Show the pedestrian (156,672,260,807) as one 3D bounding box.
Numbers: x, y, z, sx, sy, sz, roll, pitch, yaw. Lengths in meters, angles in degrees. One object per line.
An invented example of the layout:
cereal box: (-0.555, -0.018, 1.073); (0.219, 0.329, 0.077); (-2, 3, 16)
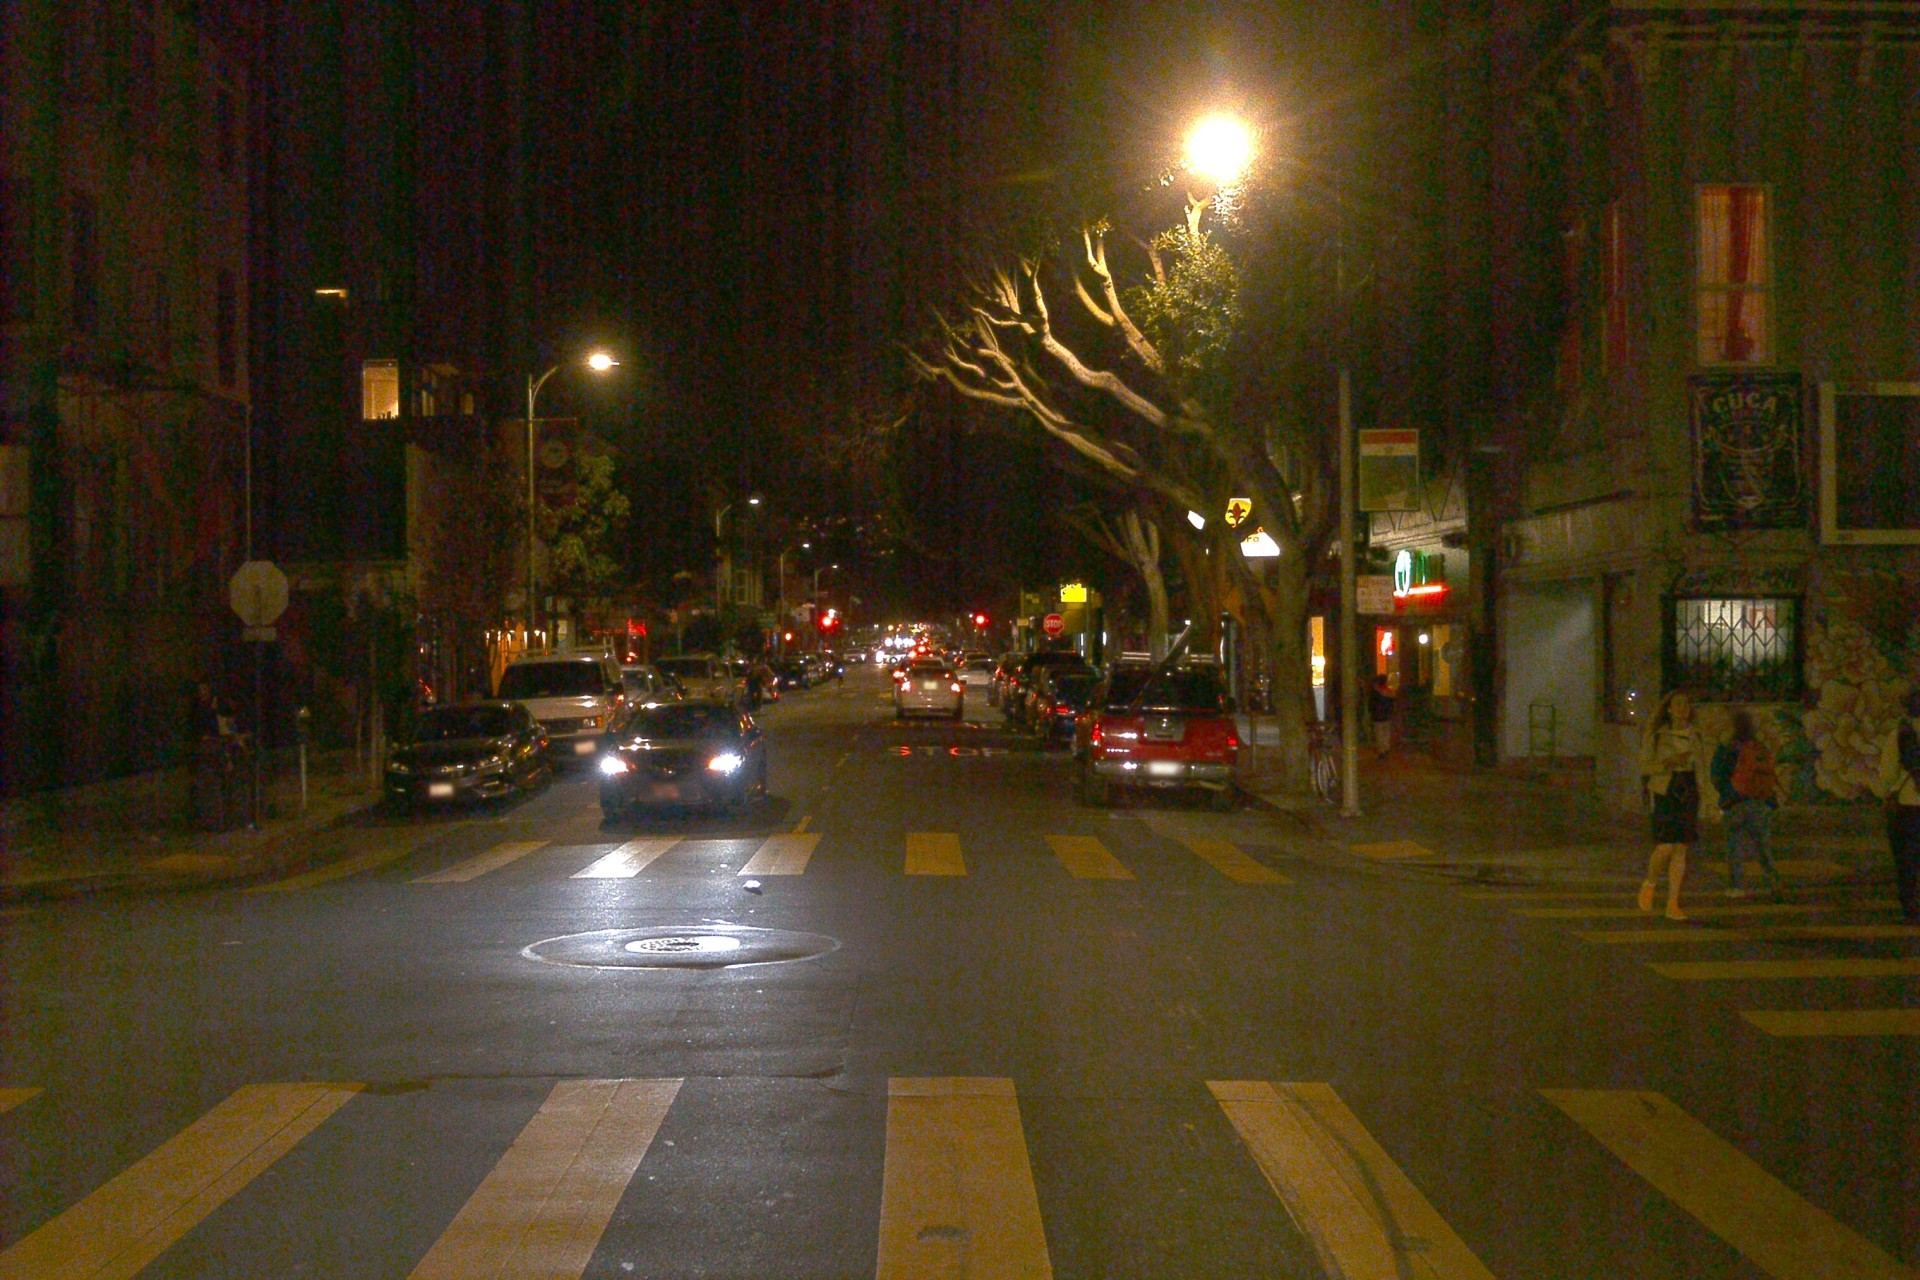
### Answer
pedestrian: (-10.201, 1.330, 28.114); (1.009, 1.780, 1.074); (0, 0, 1)

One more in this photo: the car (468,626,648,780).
car: (-7.103, 1.067, 37.206); (2.537, 2.560, 5.516); (0, 0, -4)

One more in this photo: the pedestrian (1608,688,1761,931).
pedestrian: (5.399, 1.234, 15.489); (0.758, 1.721, 1.129); (0, 0, 2)

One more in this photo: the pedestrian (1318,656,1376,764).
pedestrian: (6.282, 1.126, 33.646); (0.722, 1.730, 1.000); (0, 0, -1)

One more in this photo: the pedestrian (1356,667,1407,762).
pedestrian: (6.855, 1.211, 33.685); (0.682, 1.520, 0.703); (0, 0, 1)

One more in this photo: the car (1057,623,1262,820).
car: (2.769, 1.063, 29.877); (2.609, 2.510, 6.384); (0, 0, 4)

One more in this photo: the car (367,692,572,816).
car: (-7.135, 1.611, 30.606); (2.111, 1.570, 4.965); (0, 0, -3)

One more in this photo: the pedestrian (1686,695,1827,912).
pedestrian: (6.383, 1.283, 16.630); (0.751, 1.660, 1.056); (0, 0, 3)

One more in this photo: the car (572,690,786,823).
car: (-3.658, 1.489, 27.860); (2.245, 1.520, 4.894); (0, 0, 0)
